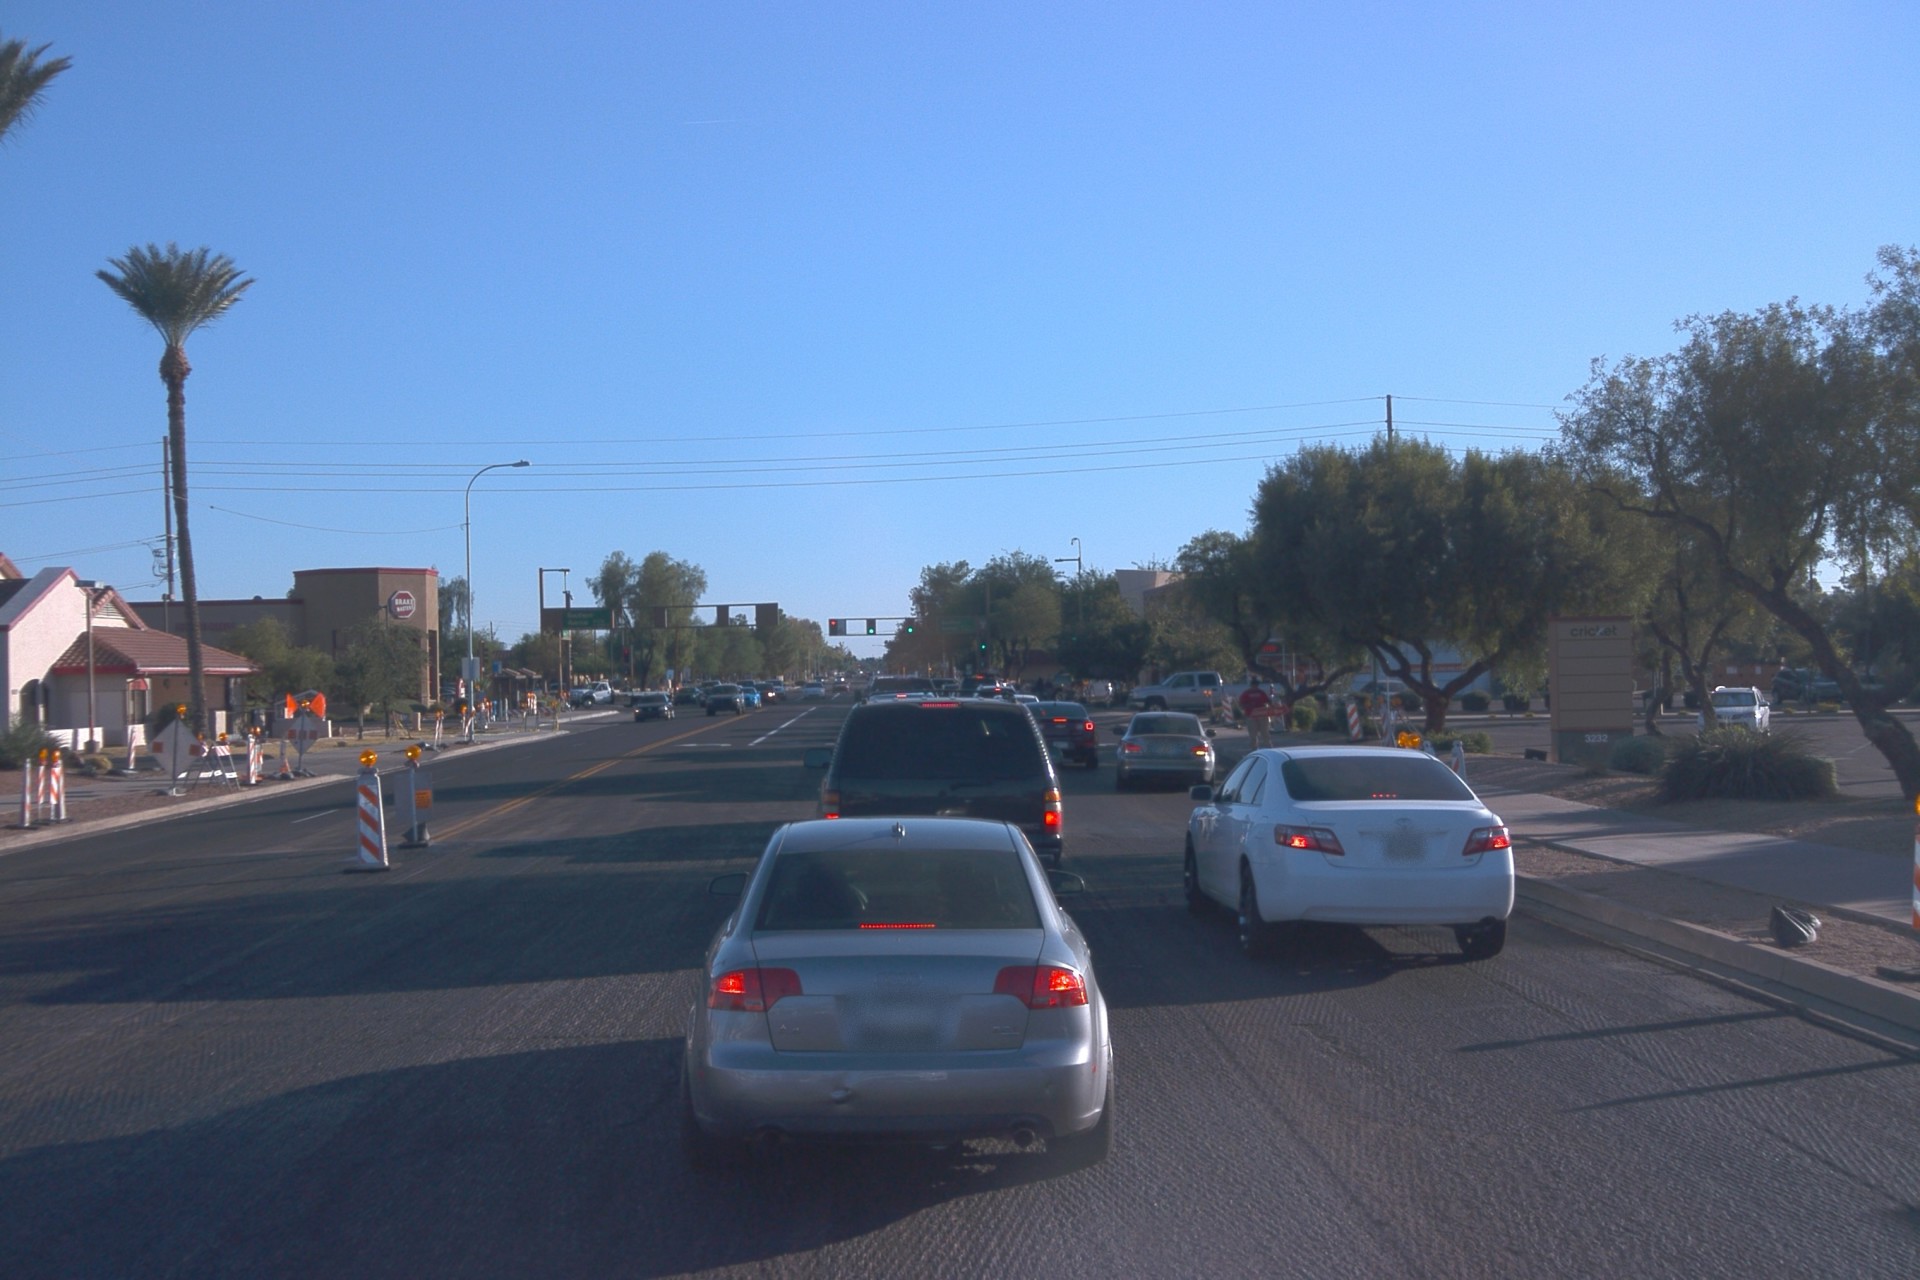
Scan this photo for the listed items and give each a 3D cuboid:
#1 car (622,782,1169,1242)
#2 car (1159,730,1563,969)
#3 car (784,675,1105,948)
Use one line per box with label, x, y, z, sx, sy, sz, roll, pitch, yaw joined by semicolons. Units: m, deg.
car;-0.286;1.532;9.936;2.033;1.480;4.403;0;-1;-1
car;2.916;1.505;16.298;2.124;1.470;4.694;0;-1;-2
car;-0.211;1.327;18.132;2.405;2.040;5.063;0;-1;-2
